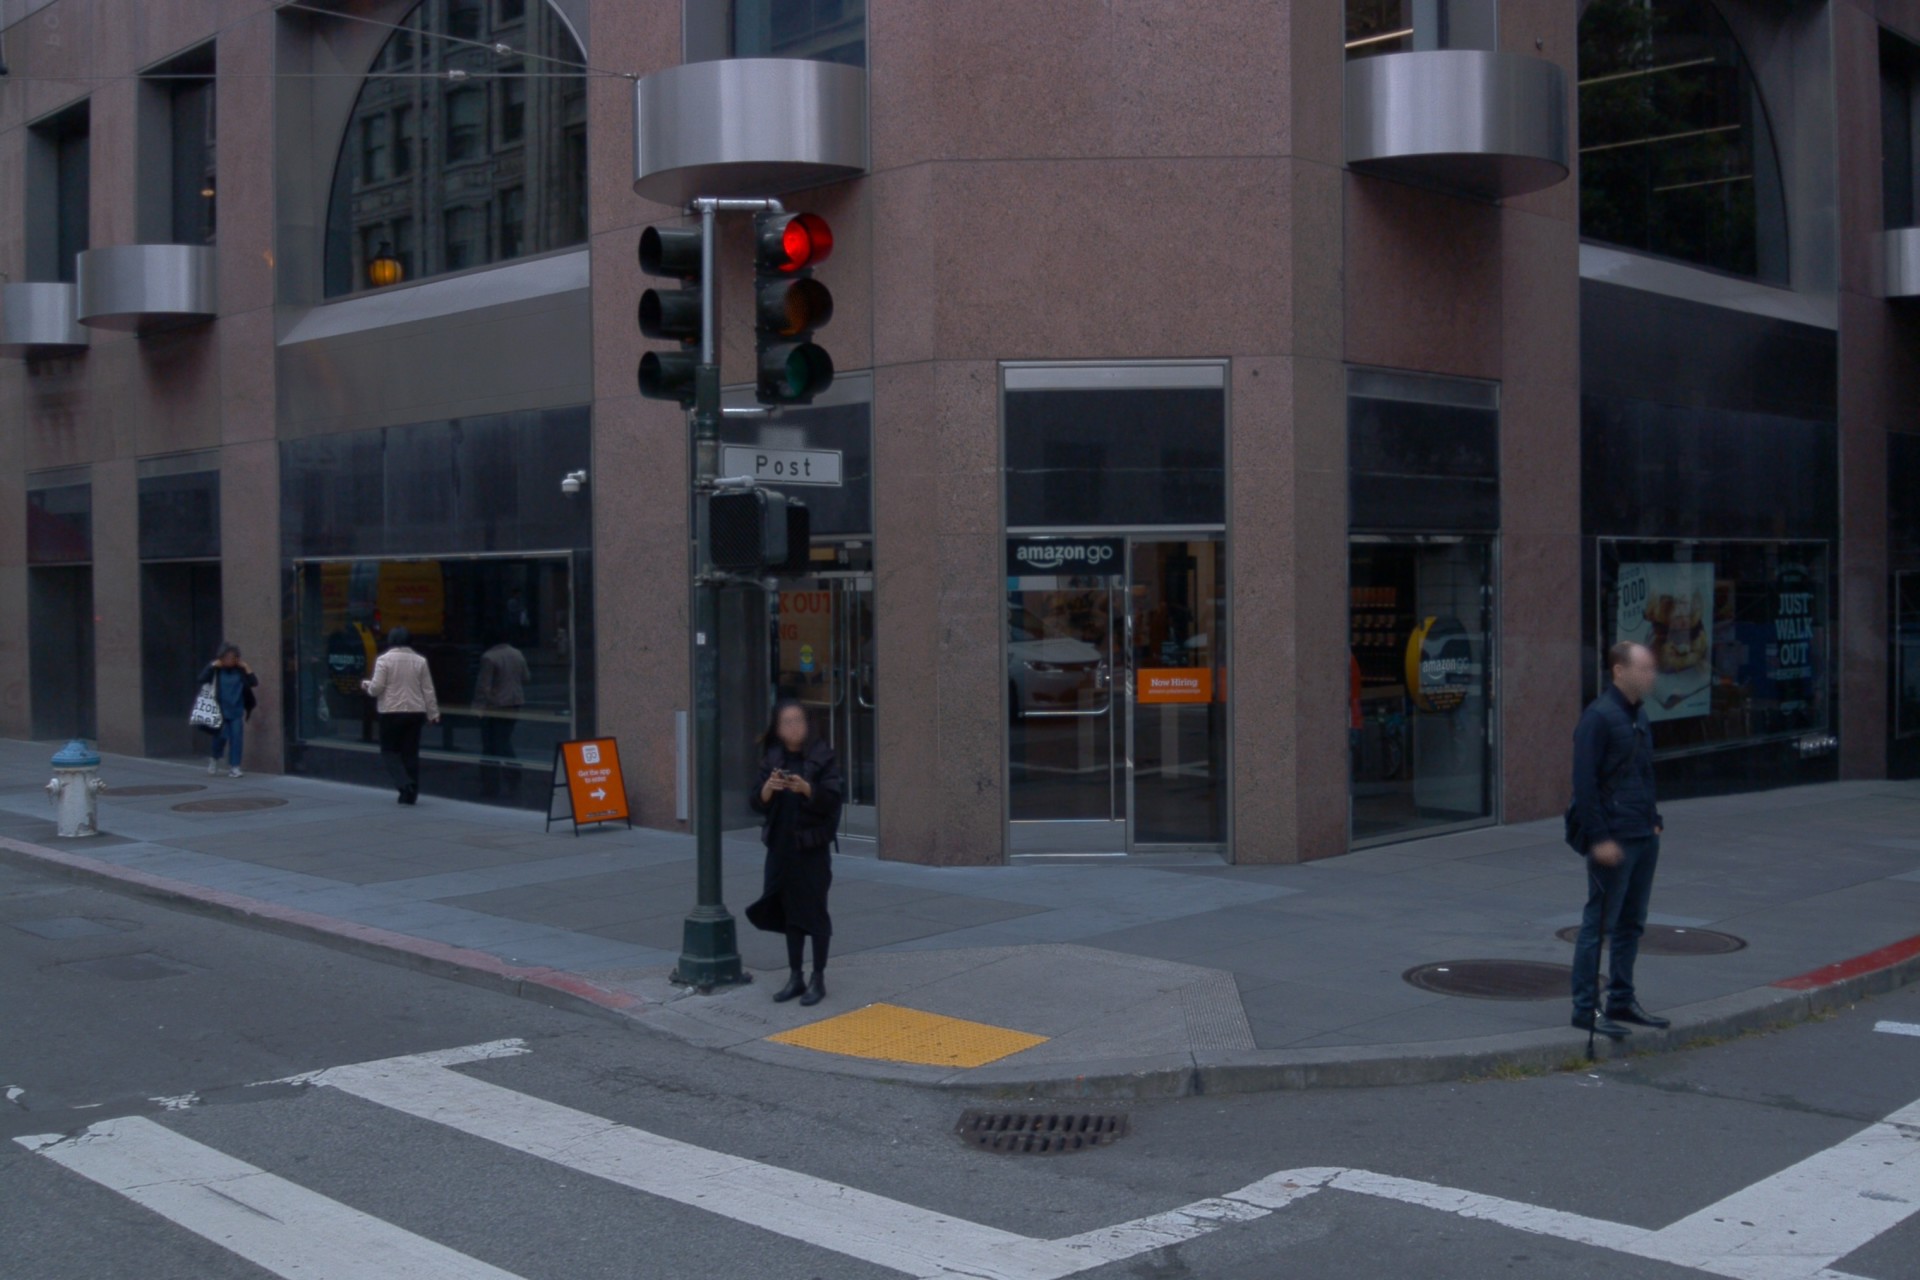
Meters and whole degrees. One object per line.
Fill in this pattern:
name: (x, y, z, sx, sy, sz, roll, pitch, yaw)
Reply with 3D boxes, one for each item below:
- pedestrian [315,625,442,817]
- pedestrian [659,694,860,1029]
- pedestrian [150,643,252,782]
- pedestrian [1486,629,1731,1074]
pedestrian: (-5.454, 0.733, 19.298, 0.839, 1.740, 0.909, -1, 1, -40)
pedestrian: (-1.035, 1.125, 10.813, 0.851, 1.650, 0.855, 0, 1, 9)
pedestrian: (-8.171, 0.761, 22.141, 0.764, 1.450, 0.786, -1, 1, -44)
pedestrian: (3.050, 0.938, 9.686, 0.824, 1.970, 0.771, -1, 1, -39)
